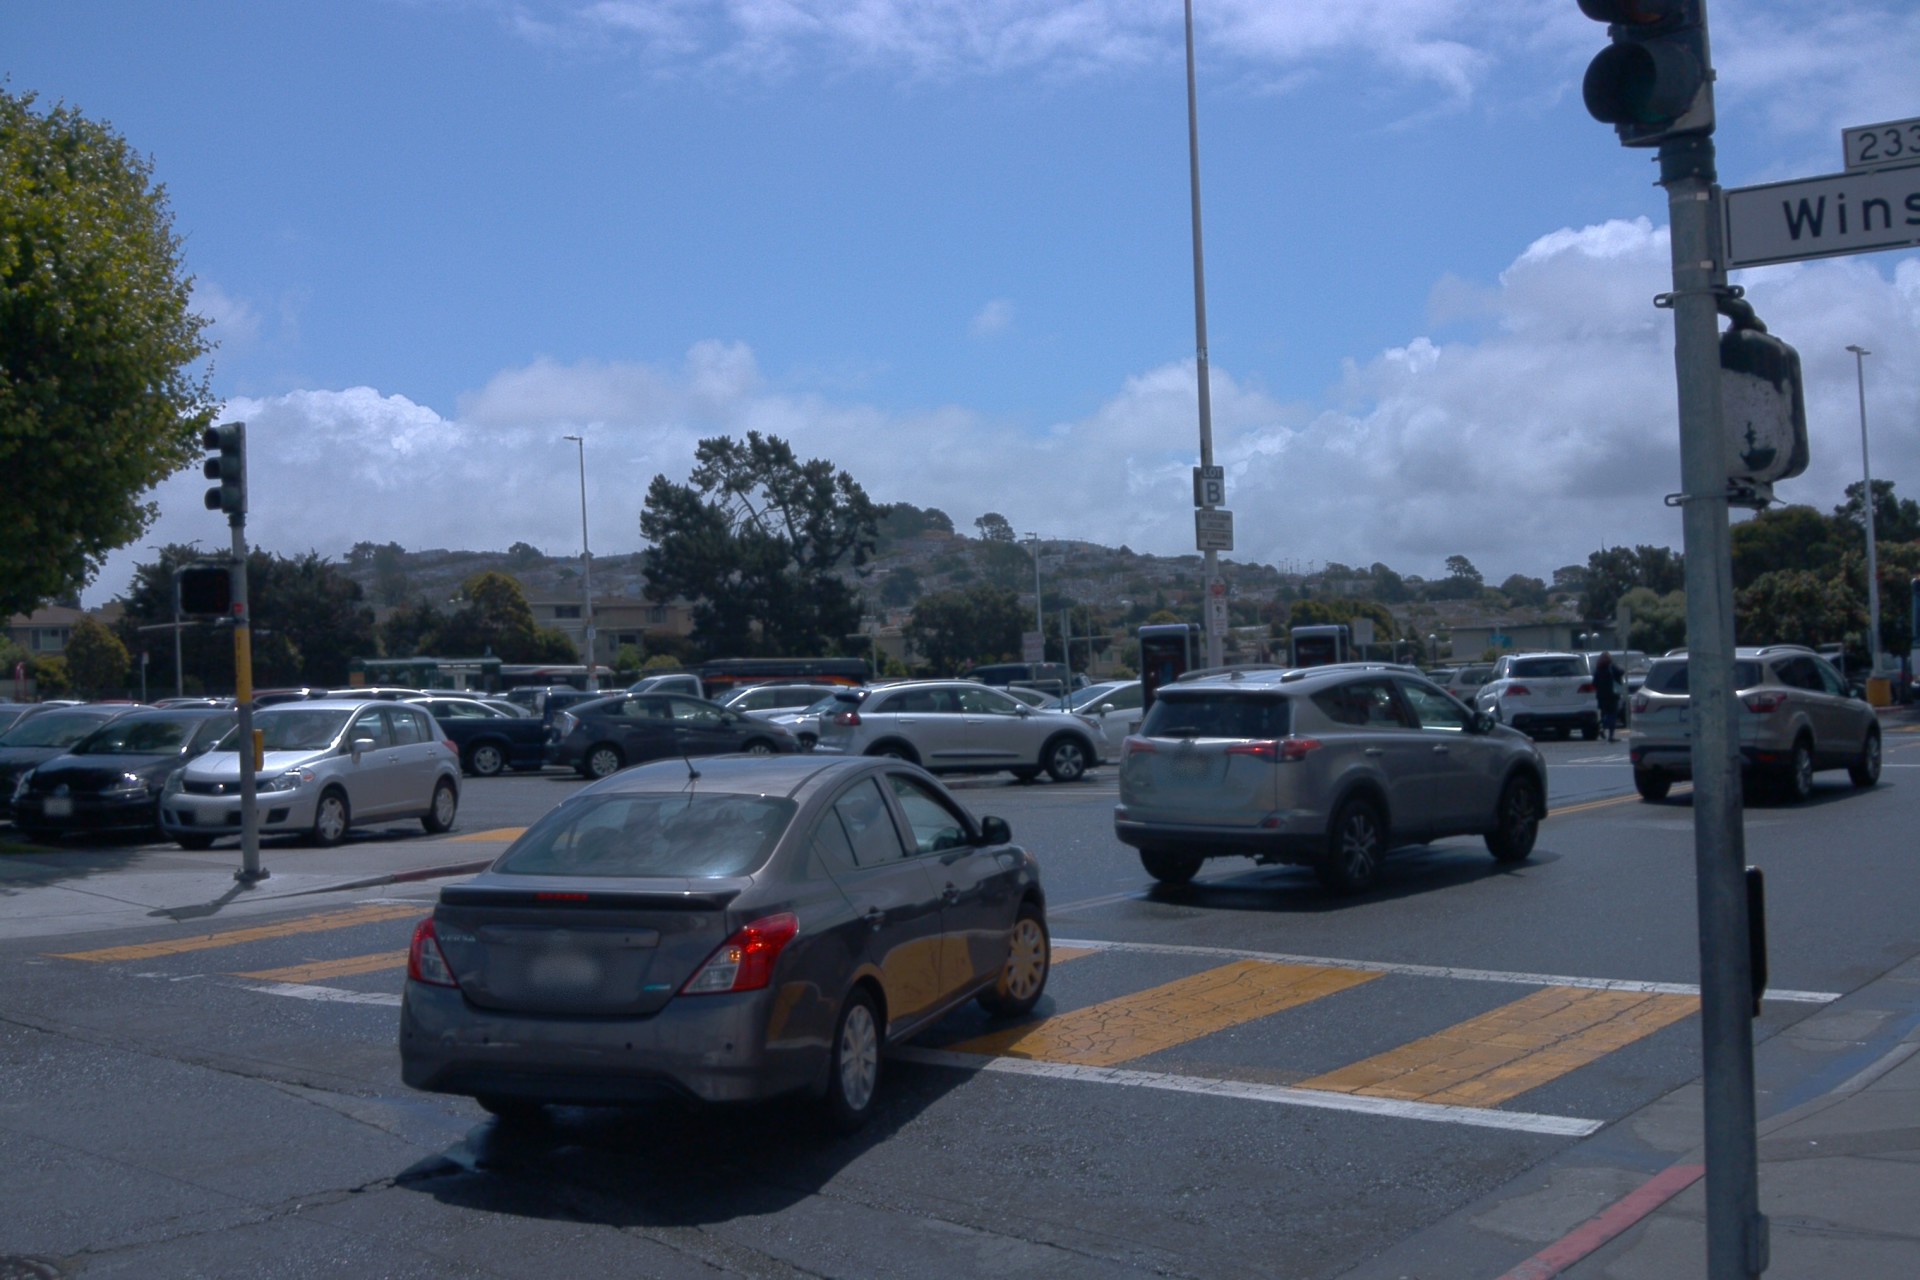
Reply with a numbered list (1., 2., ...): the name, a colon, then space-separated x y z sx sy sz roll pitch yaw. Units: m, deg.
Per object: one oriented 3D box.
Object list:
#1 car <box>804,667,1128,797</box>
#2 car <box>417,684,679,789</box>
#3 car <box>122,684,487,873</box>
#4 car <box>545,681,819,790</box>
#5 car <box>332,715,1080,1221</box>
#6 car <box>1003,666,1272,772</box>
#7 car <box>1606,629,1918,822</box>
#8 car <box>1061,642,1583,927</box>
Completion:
1. car: 0.075 1.292 30.073 4.310 1.710 1.955 0 0 -20
2. car: -7.555 1.728 37.670 4.431 1.710 2.060 0 0 -20
3. car: -6.930 1.394 22.269 1.978 1.700 4.260 0 1 11
4. car: -4.894 1.626 36.051 4.431 1.710 2.059 0 0 -19
5. car: -0.868 1.245 9.587 1.946 1.580 4.216 0 1 17
6. car: 3.148 1.364 36.550 4.326 1.700 1.976 0 0 -23
7. car: 9.239 0.870 23.498 2.023 1.960 4.298 0 1 40
8. car: 3.041 0.997 16.527 2.142 1.900 4.486 0 1 41
